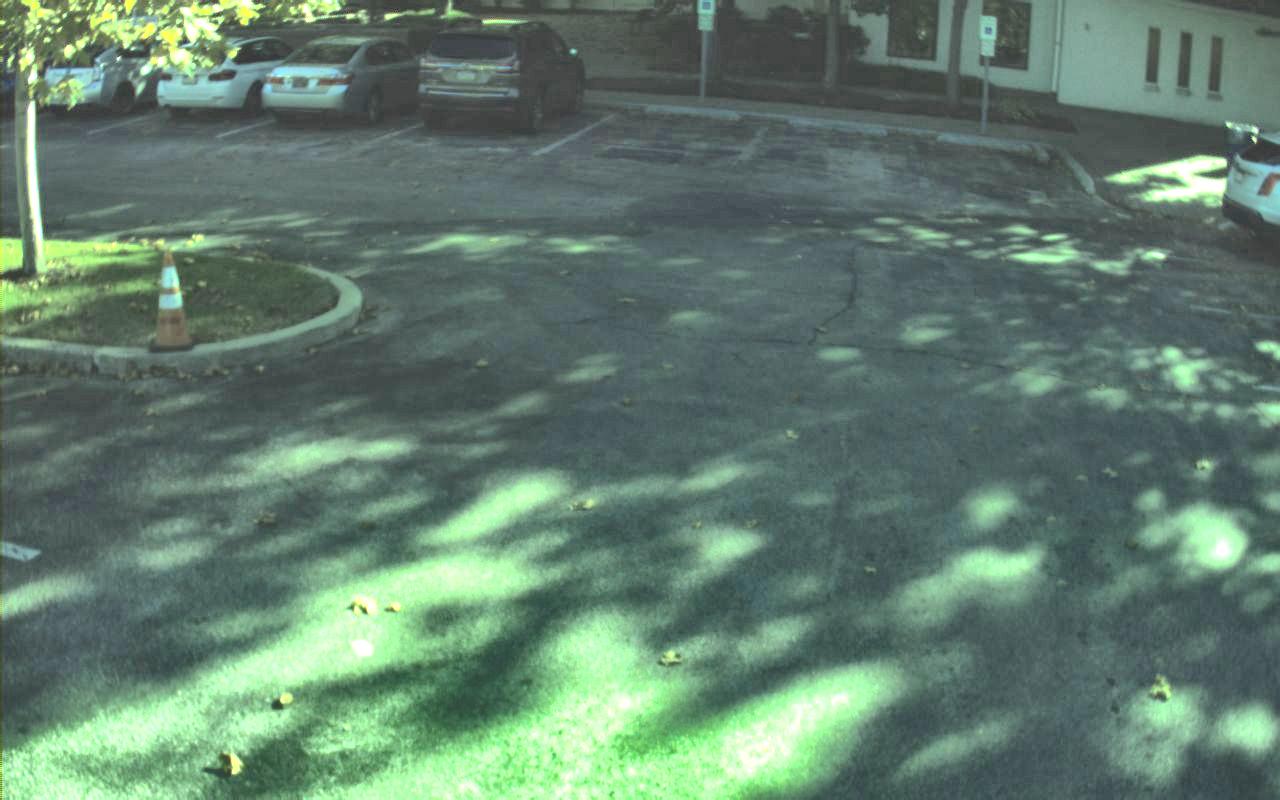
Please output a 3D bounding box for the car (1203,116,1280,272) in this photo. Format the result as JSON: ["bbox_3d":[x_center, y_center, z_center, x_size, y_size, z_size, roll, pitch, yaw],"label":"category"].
[{"bbox_3d":[9.797,-2.707,14.472,4.351,1.691,1.969,-1,16,-1],"label":"car"}]

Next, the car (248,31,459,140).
[{"bbox_3d":[-4.897,-5.557,21.112,1.917,1.569,4.475,3,17,13],"label":"car"}]

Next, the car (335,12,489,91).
[{"bbox_3d":[-5.173,-8.068,27.926,1.963,1.586,4.626,2,17,12],"label":"car"}]

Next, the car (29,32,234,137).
[{"bbox_3d":[-10.004,-6.250,22.587,1.951,1.607,4.536,3,17,14],"label":"car"}]

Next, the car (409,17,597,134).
[{"bbox_3d":[-2.191,-5.591,20.870,2.008,1.736,4.627,2,17,9],"label":"car"}]

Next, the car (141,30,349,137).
[{"bbox_3d":[-7.277,-5.933,22.005,1.929,1.582,4.495,3,17,13],"label":"car"}]
